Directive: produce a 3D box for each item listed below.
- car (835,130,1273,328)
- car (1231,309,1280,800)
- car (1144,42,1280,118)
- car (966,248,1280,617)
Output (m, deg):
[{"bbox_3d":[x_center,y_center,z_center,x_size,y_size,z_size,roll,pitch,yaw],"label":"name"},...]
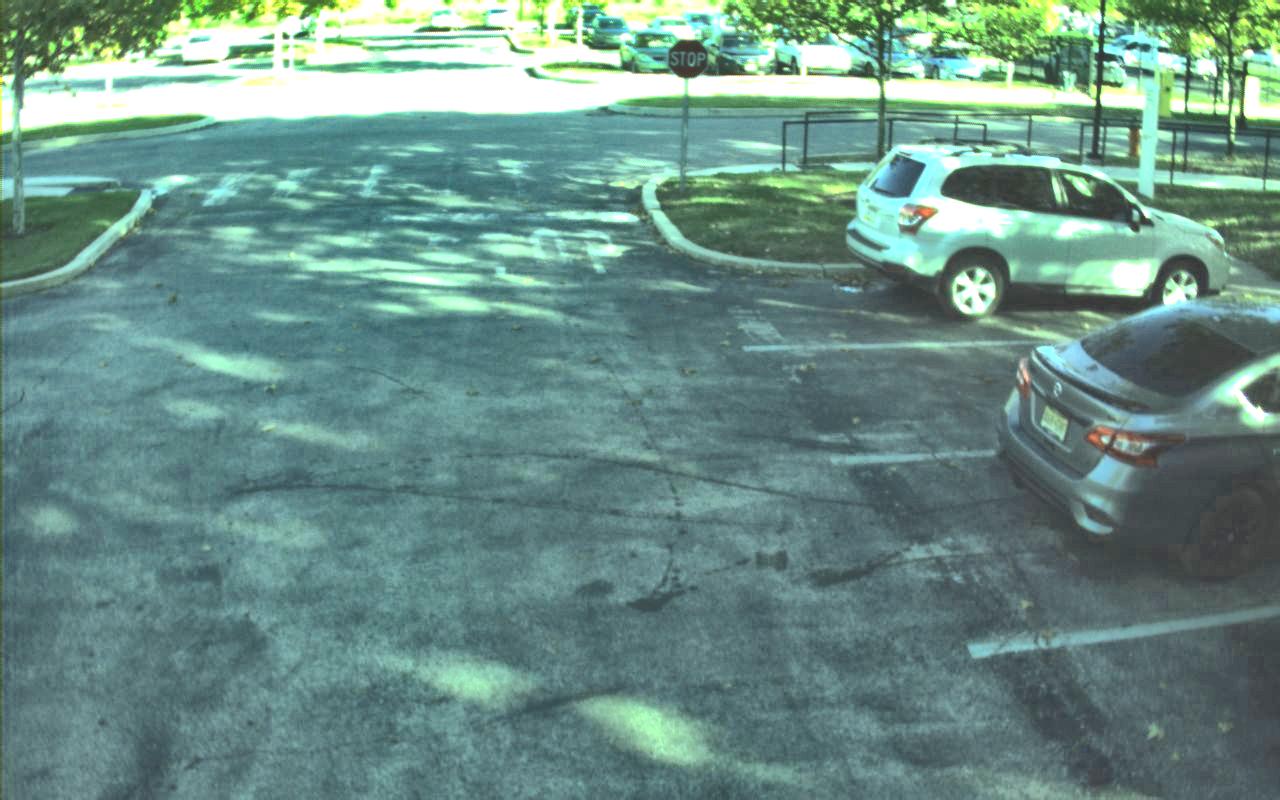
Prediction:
[{"bbox_3d":[4.587,-1.964,13.135,4.609,1.754,2.005,-4,16,-9],"label":"car"},{"bbox_3d":[5.358,0.753,4.947,4.425,1.698,1.964,-4,17,-11],"label":"car"},{"bbox_3d":[17.977,-9.866,34.709,2.117,1.891,5.146,-7,18,-21],"label":"car"},{"bbox_3d":[4.560,-0.013,7.557,4.495,1.566,1.949,-5,17,-13],"label":"car"}]
